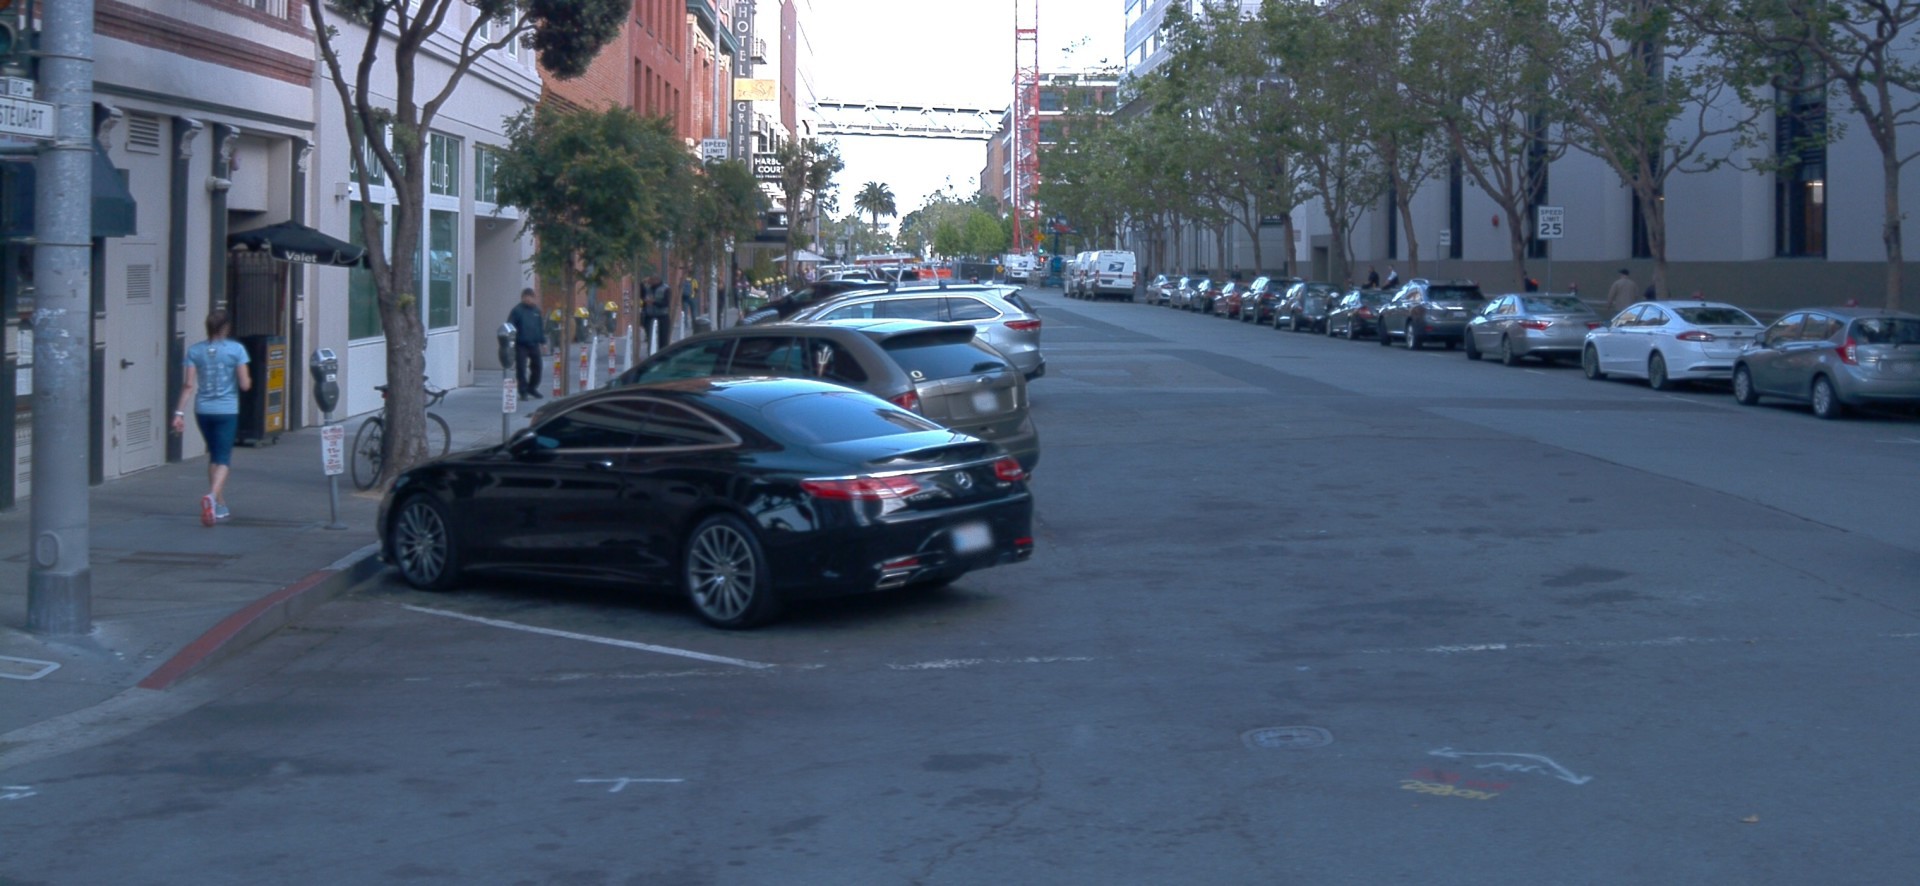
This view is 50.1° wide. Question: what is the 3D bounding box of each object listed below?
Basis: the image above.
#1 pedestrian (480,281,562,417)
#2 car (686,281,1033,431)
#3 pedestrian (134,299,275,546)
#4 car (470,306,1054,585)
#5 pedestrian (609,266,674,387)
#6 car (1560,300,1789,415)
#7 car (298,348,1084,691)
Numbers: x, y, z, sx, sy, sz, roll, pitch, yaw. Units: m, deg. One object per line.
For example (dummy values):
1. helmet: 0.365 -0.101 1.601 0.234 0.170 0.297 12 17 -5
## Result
1. pedestrian: -6.289 -1.370 29.409 0.916 1.879 0.944 -1 1 -30
2. car: -1.348 -1.263 28.922 4.695 1.974 2.174 0 3 0
3. pedestrian: -5.921 -0.197 16.163 0.741 1.829 1.137 0 2 -3
4. car: -1.737 -0.133 17.234 4.641 1.883 2.152 4 5 37
5. pedestrian: -5.652 -2.087 36.507 0.882 2.100 0.874 0 1 11
6. car: 11.888 -1.497 34.540 2.009 1.648 4.502 0 5 -5
7. car: -1.940 0.299 13.617 5.215 1.578 2.226 4 6 40
